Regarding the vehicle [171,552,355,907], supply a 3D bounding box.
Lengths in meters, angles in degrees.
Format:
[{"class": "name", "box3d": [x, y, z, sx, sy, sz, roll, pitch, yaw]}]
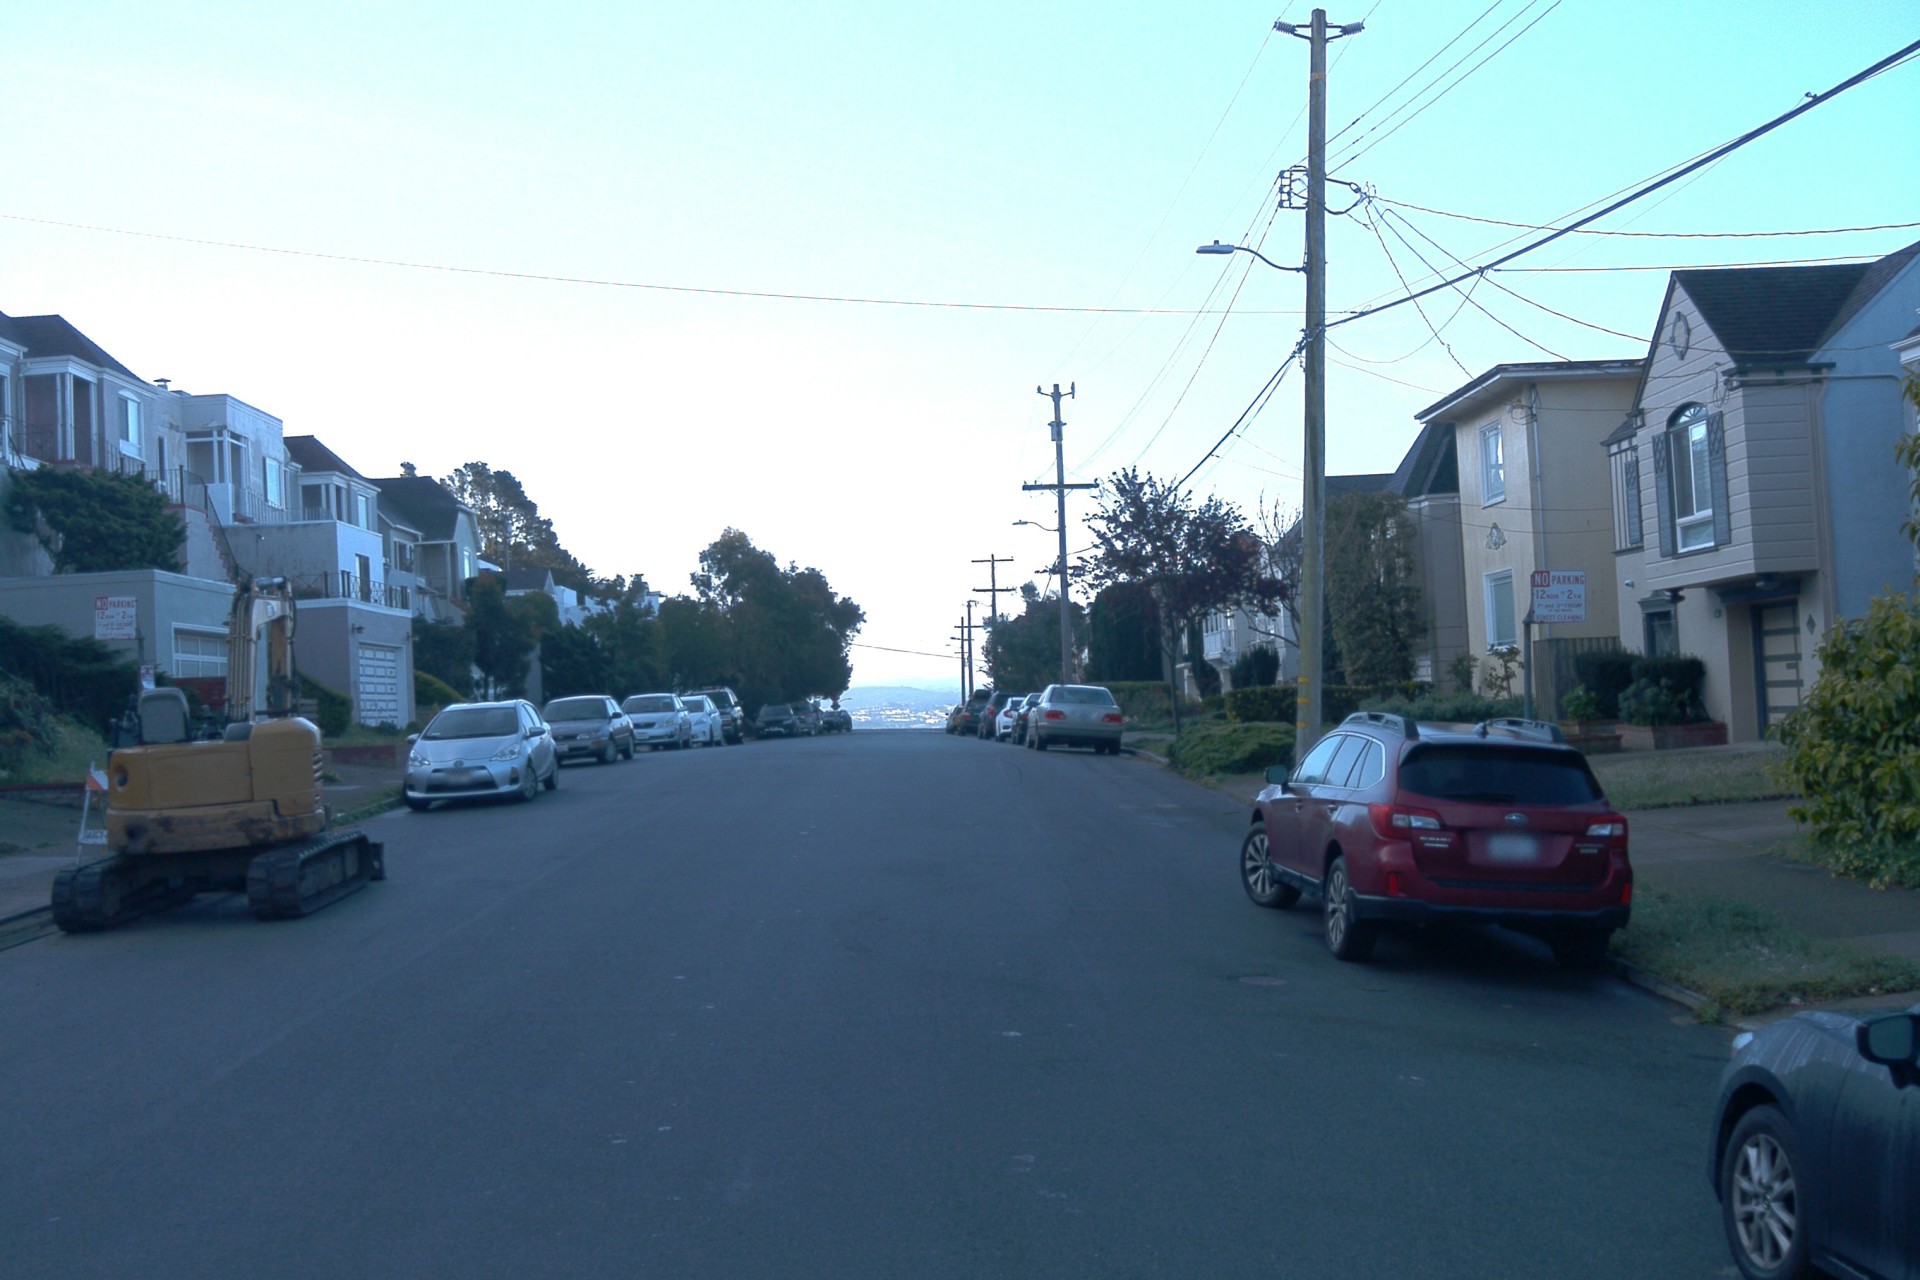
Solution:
[{"class": "vehicle", "box3d": [-6.634, 0.796, 19.786, 1.142, 3.170, 2.649, 0, 0, -7]}]

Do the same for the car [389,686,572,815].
[{"class": "car", "box3d": [-6.912, 1.547, 30.076, 1.979, 1.670, 3.896, 0, 0, -4]}]

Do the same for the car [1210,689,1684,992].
[{"class": "car", "box3d": [3.397, 1.325, 15.550, 2.206, 1.800, 4.939, 0, 0, -3]}]

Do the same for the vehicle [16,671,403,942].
[{"class": "vehicle", "box3d": [-6.281, 1.317, 17.682, 2.170, 2.050, 3.317, 0, 0, -2]}]
